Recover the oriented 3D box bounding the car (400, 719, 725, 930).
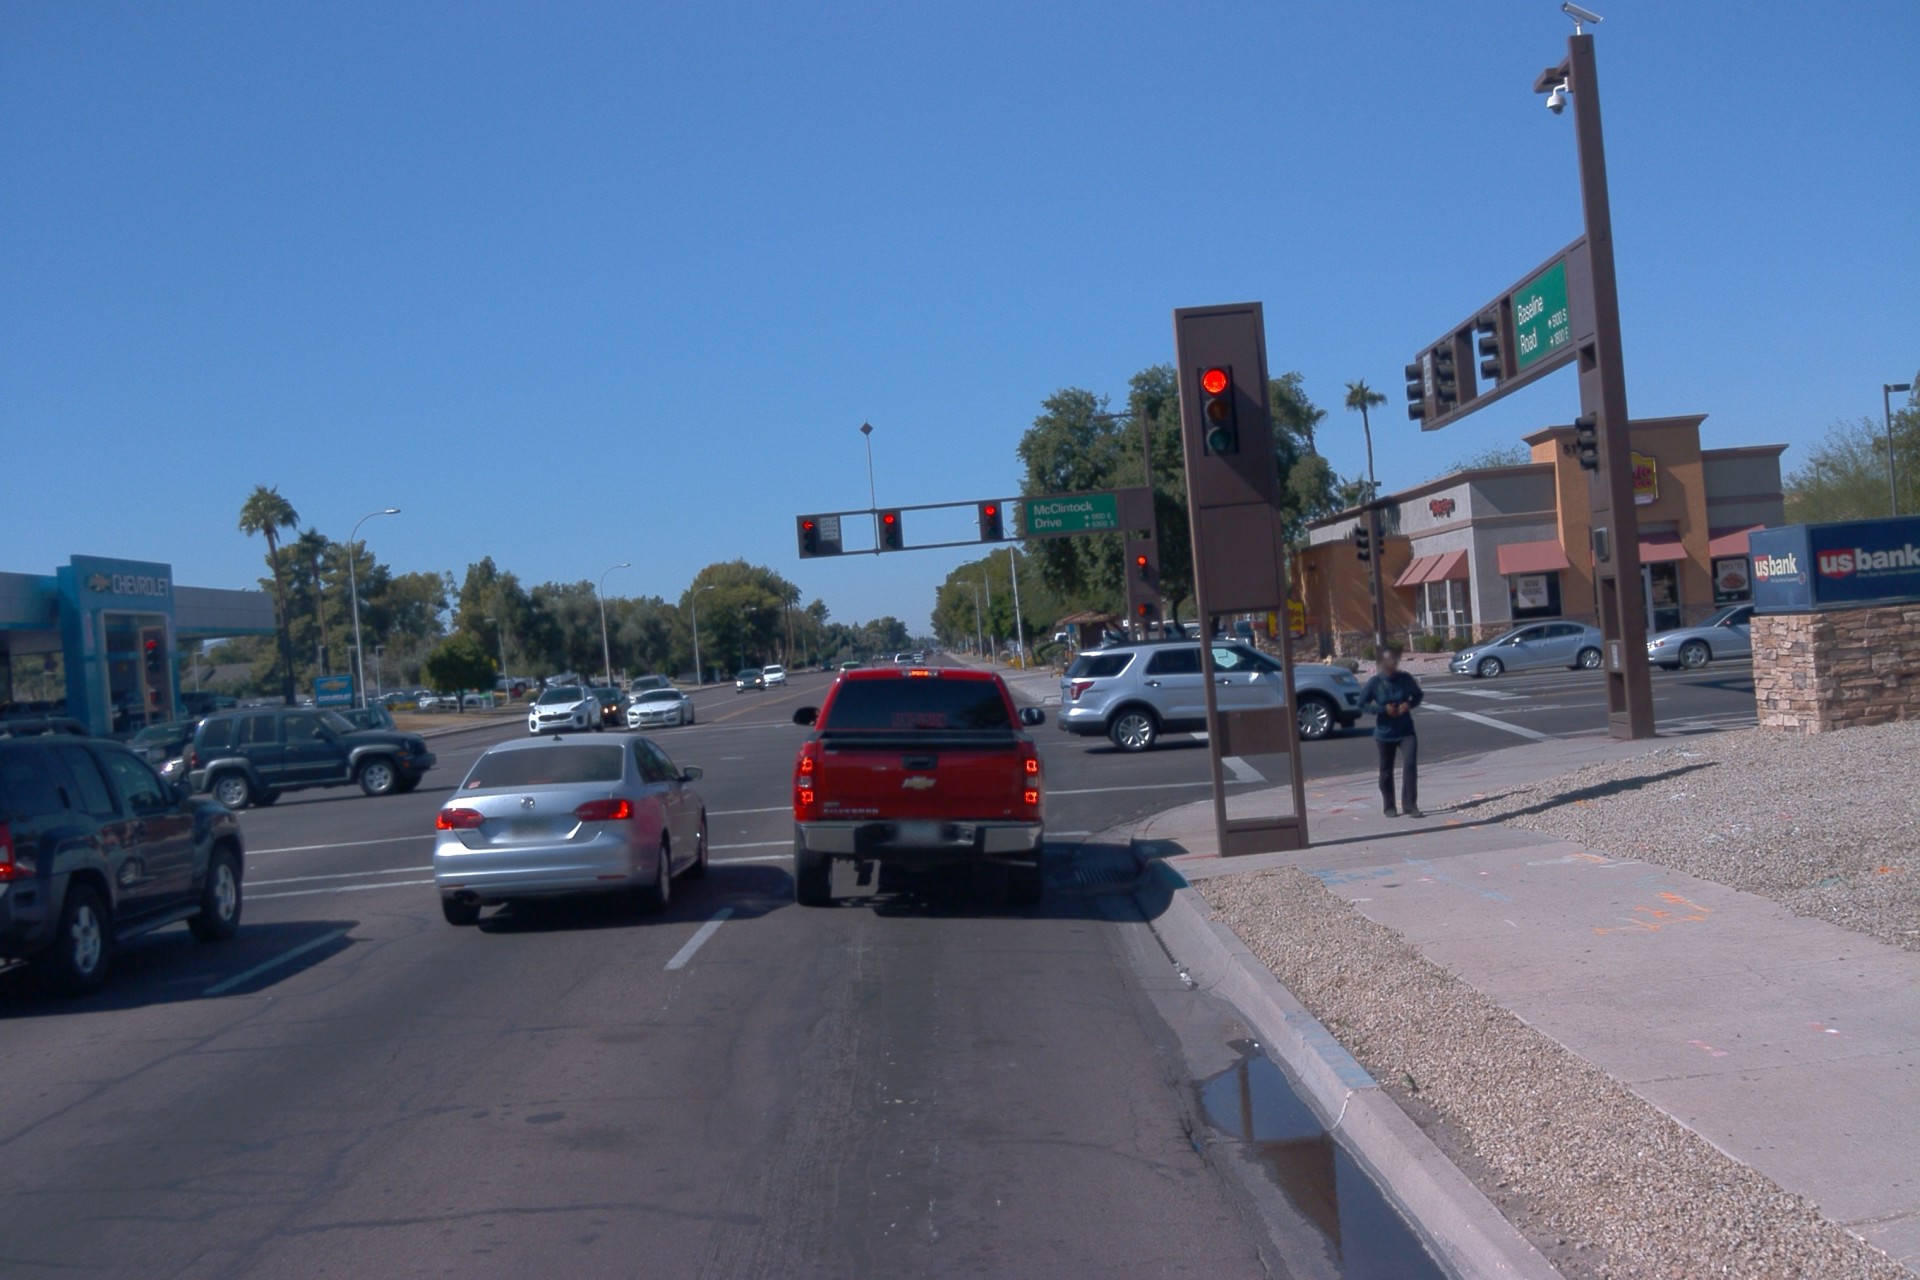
[{"bbox_3d":[-3.215,1.461,17.736,1.920,1.450,4.335,1,-1,0],"label":"car"}]

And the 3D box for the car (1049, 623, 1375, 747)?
[{"bbox_3d":[4.016,0.727,33.927,5.059,1.900,2.145,1,-1,1],"label":"car"}]

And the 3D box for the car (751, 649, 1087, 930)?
[{"bbox_3d":[-0.357,1.187,18.766,2.538,2.120,5.758,1,-1,-1],"label":"car"}]

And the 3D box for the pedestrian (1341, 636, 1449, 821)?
[{"bbox_3d":[4.161,0.835,19.993,0.808,1.714,1.171,1,-1,2],"label":"pedestrian"}]
